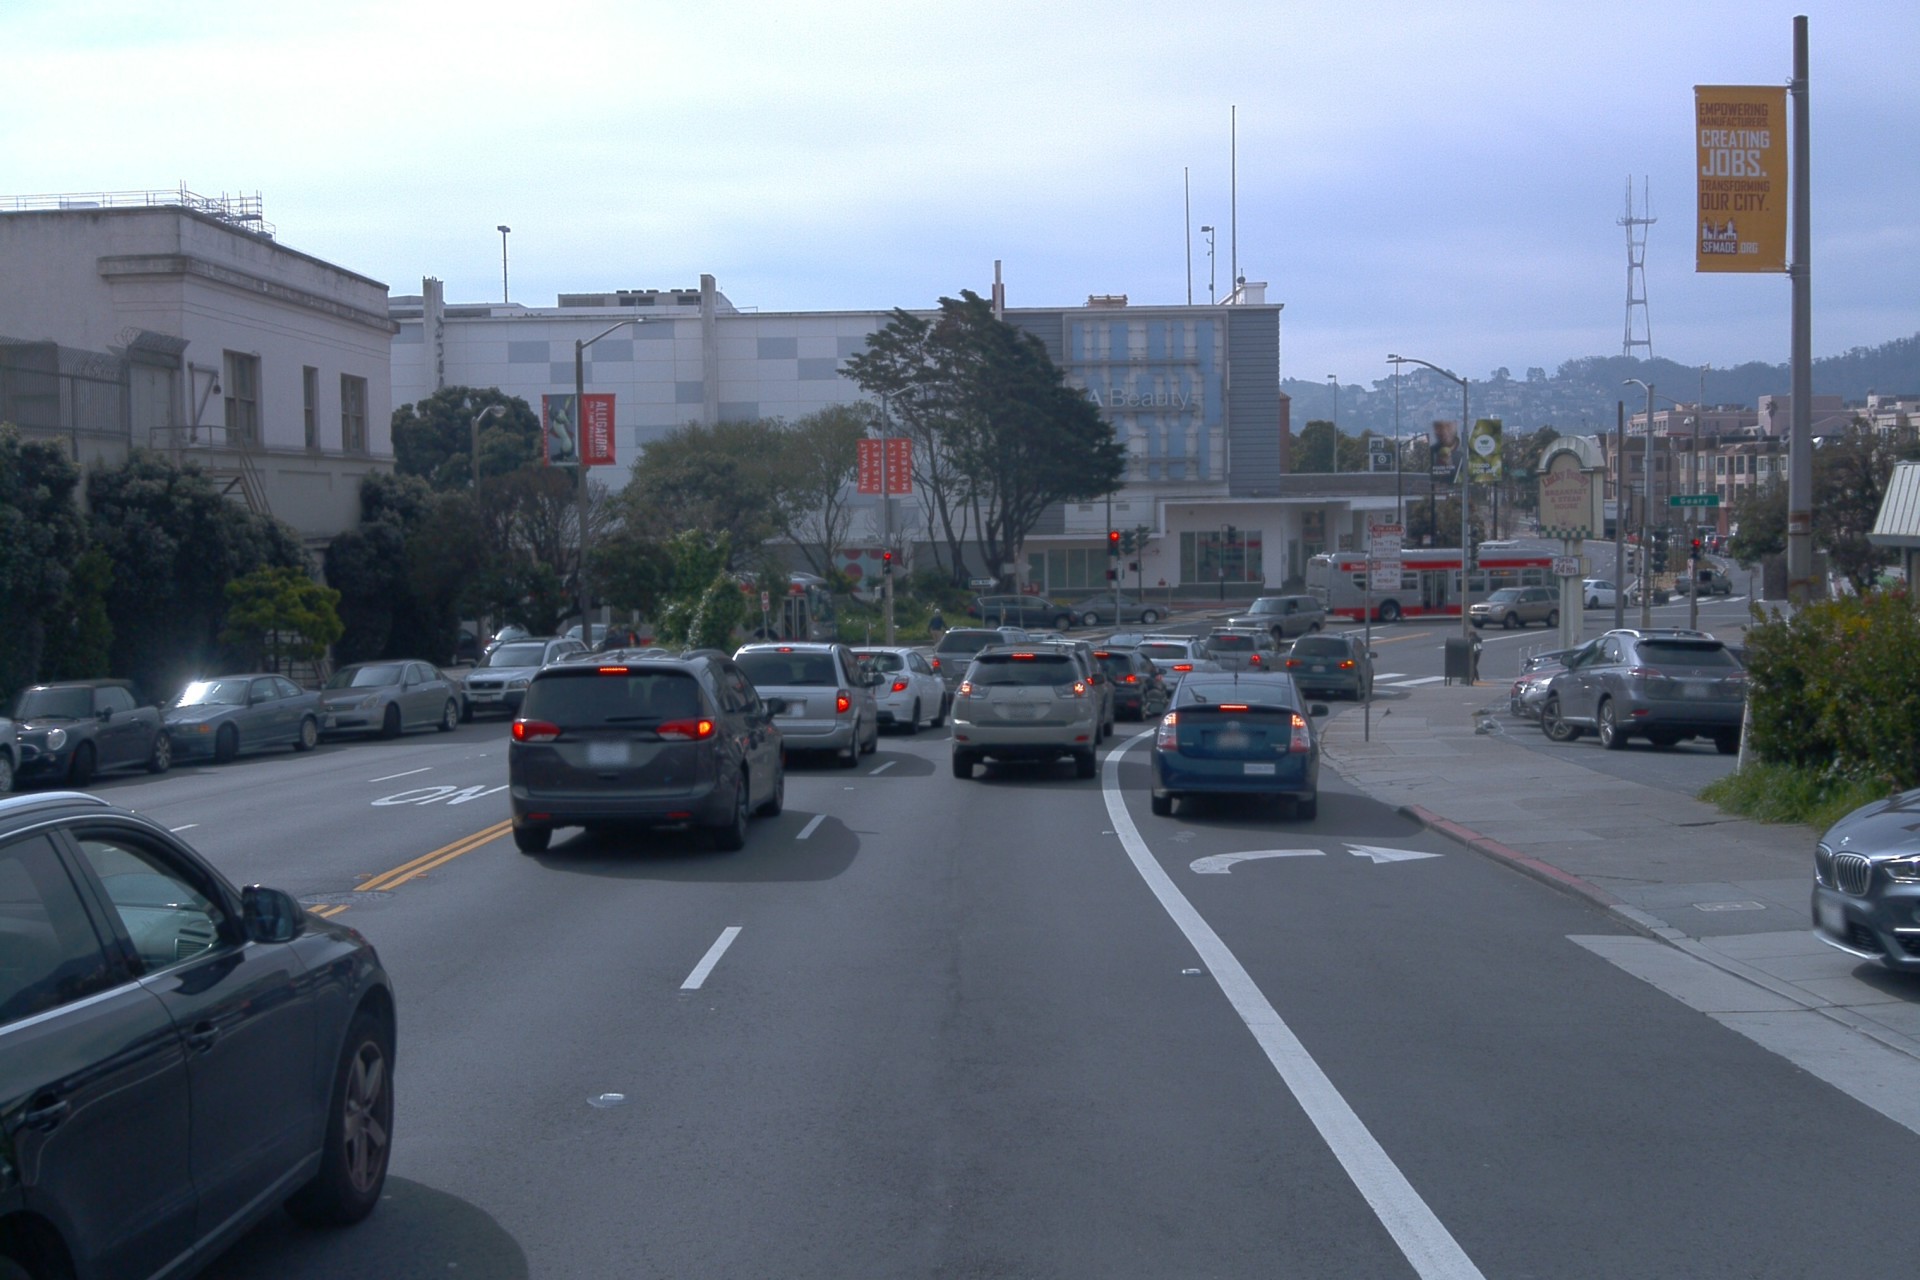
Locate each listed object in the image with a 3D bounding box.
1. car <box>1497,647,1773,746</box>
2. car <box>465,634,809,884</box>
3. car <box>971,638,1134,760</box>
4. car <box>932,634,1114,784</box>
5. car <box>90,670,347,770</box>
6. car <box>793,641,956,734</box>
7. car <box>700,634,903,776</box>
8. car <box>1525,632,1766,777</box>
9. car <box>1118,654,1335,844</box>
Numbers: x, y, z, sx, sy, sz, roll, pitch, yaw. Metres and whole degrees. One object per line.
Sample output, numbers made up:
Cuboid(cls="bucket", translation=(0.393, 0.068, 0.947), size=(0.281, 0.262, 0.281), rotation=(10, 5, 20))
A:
Cuboid(cls="car", translation=(11.377, 0.937, 34.668), size=(4.019, 1.570, 1.975), rotation=(1, 0, 0))
Cuboid(cls="car", translation=(-2.855, 0.971, 19.386), size=(2.338, 2.030, 5.004), rotation=(1, 0, 2))
Cuboid(cls="car", translation=(1.636, 0.920, 34.406), size=(2.120, 1.870, 4.391), rotation=(1, 0, 11))
Cuboid(cls="car", translation=(0.886, 0.830, 27.071), size=(2.197, 1.780, 4.467), rotation=(1, 0, 3))
Cuboid(cls="car", translation=(-11.853, 1.231, 33.033), size=(2.034, 1.390, 4.451), rotation=(1, 0, 8))
Cuboid(cls="car", translation=(-1.453, 0.799, 36.592), size=(1.982, 1.530, 4.306), rotation=(1, 0, 11))
Cuboid(cls="car", translation=(-2.149, 0.838, 29.150), size=(2.131, 1.830, 4.635), rotation=(1, 0, 5))
Cuboid(cls="car", translation=(9.868, 0.861, 29.843), size=(2.065, 1.920, 4.493), rotation=(1, 0, 1))
Cuboid(cls="car", translation=(2.970, 1.080, 22.440), size=(2.113, 1.790, 4.647), rotation=(1, 0, 9))
